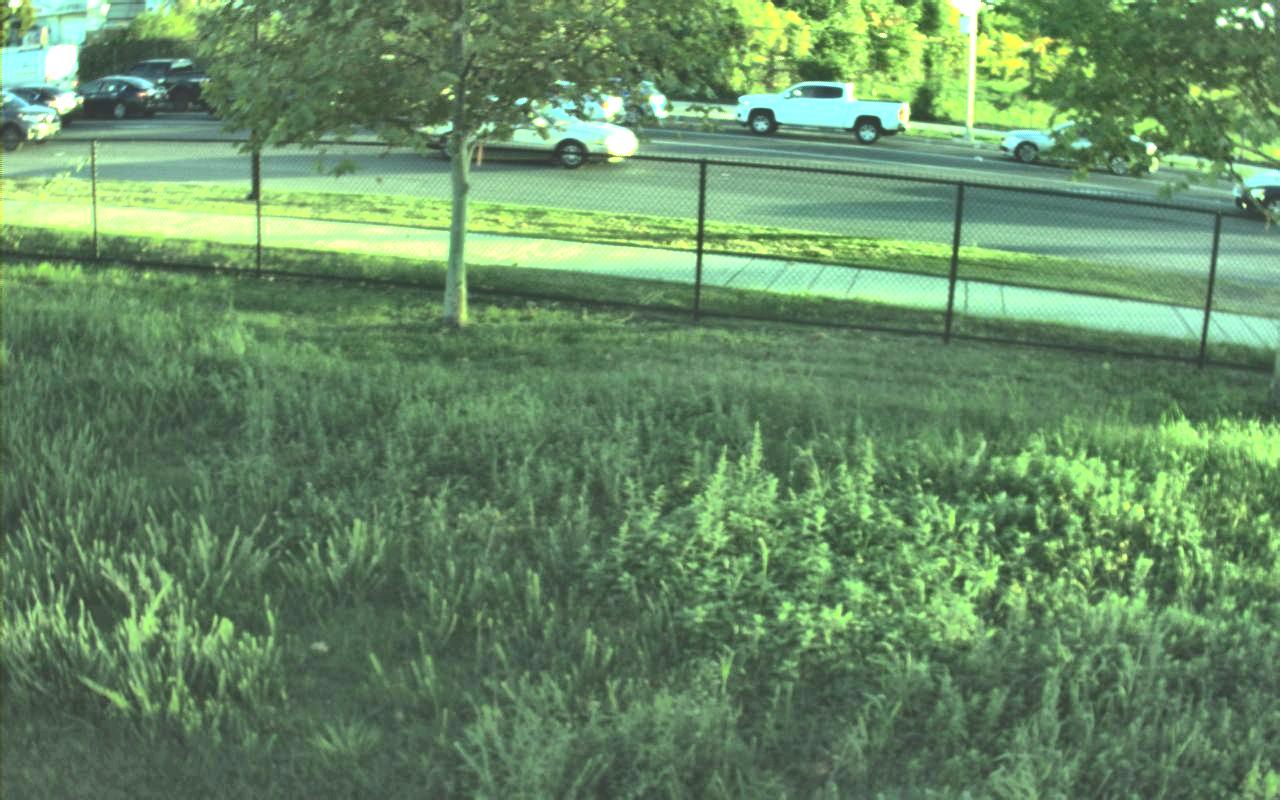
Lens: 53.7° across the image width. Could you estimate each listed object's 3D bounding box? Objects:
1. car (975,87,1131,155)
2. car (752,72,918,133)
[{"bbox_3d":[12.282,-8.243,35.206,4.594,1.624,1.986,7,17,25],"label":"car"},{"bbox_3d":[6.016,-9.104,37.589,4.900,1.670,2.062,3,16,15],"label":"car"}]
